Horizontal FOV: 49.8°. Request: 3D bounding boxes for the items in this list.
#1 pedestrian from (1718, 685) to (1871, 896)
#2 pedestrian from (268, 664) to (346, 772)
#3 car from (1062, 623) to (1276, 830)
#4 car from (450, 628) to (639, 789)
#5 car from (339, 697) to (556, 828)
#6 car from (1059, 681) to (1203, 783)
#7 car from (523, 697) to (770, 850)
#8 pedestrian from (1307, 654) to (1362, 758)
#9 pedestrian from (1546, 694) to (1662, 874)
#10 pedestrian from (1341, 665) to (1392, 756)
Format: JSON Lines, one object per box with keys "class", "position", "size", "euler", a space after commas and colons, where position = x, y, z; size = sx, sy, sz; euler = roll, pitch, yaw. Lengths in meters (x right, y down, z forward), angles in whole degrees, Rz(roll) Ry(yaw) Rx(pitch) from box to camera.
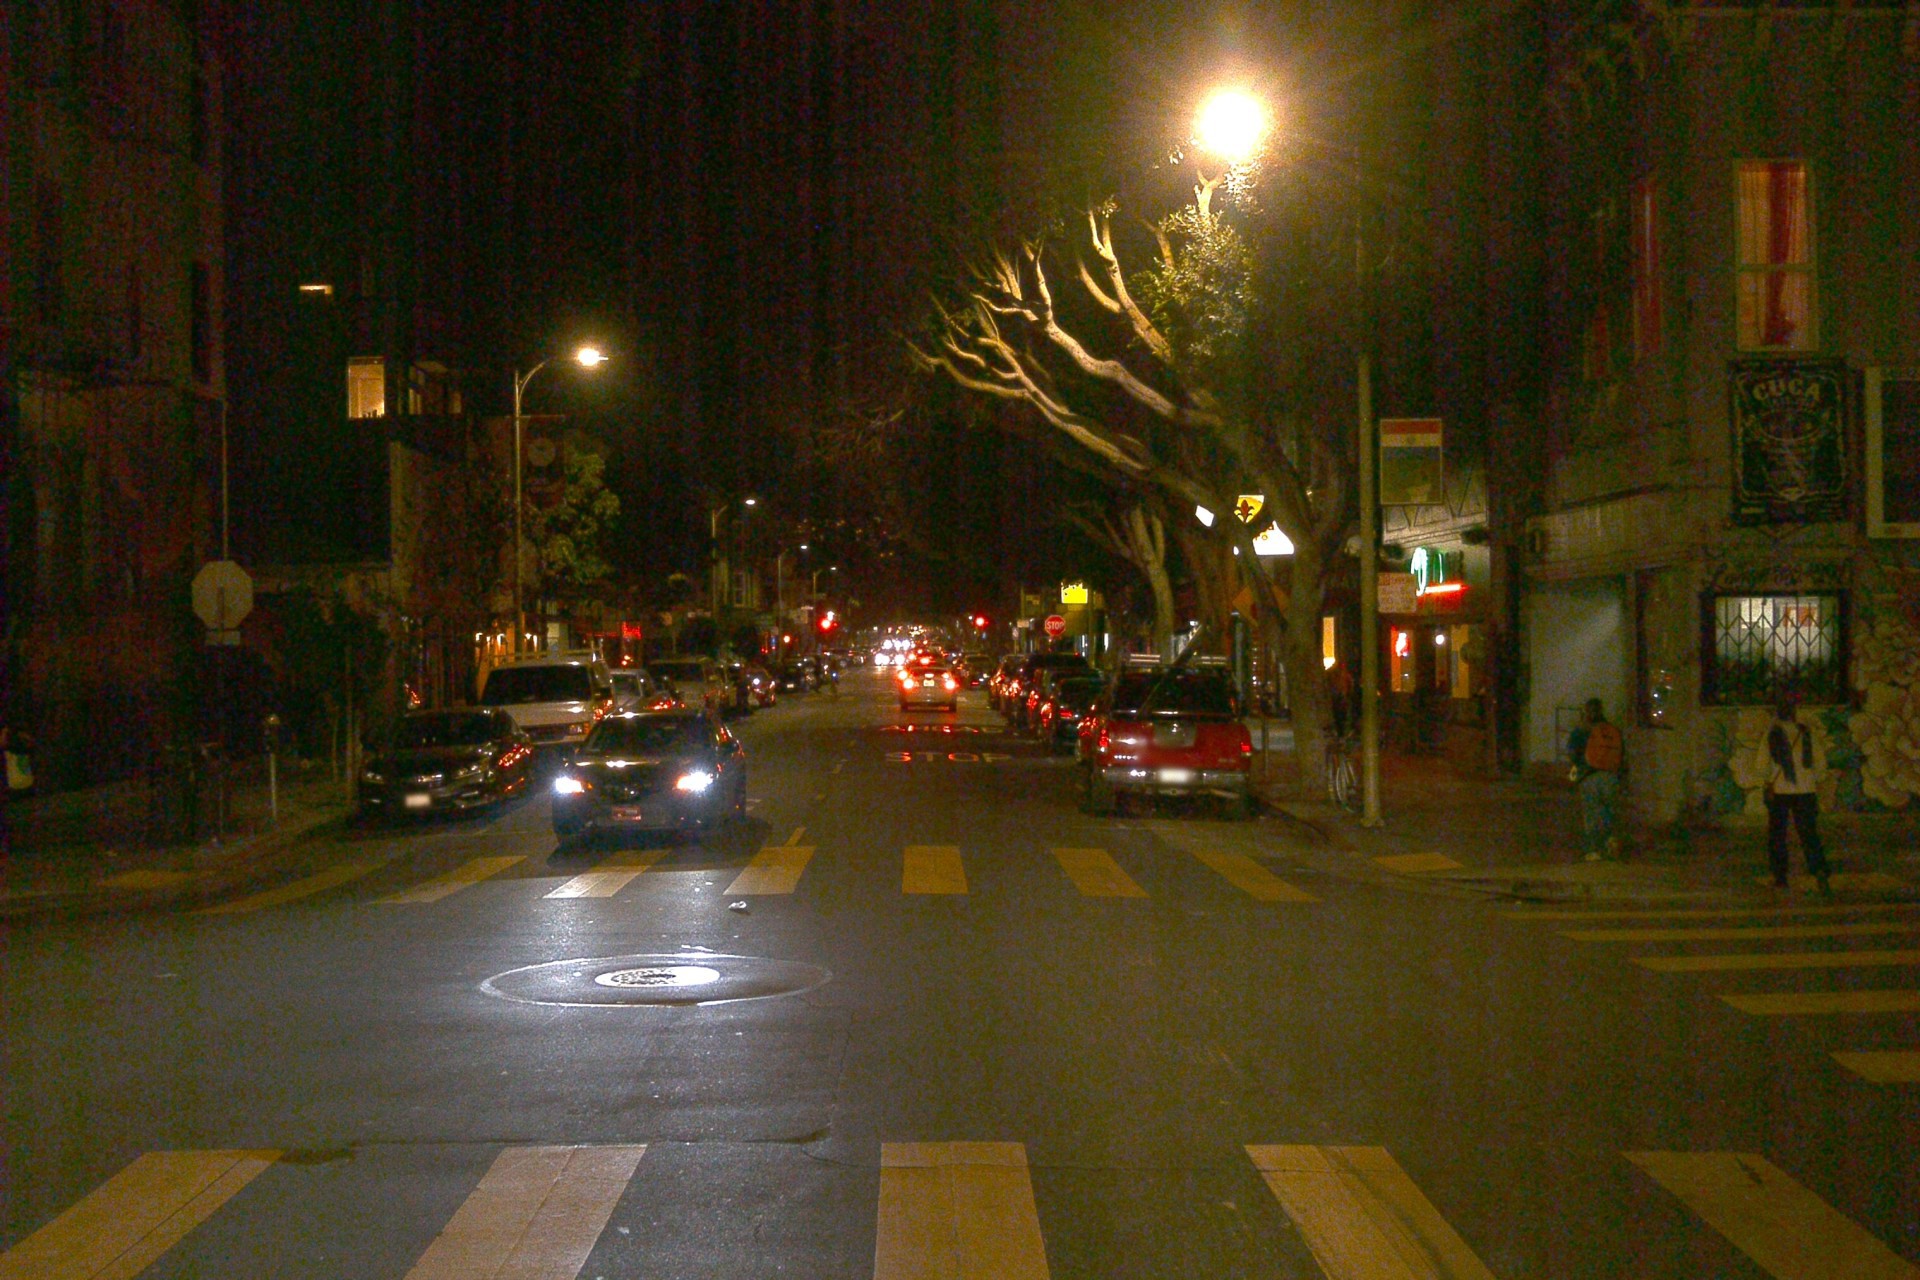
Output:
{"class": "pedestrian", "position": [7.087, 1.253, 17.629], "size": [0.875, 1.720, 1.082], "euler": [0, 0, 2]}
{"class": "pedestrian", "position": [-11.293, 1.334, 35.819], "size": [1.016, 1.830, 1.016], "euler": [0, 0, 0]}
{"class": "car", "position": [2.769, 1.076, 28.633], "size": [2.609, 2.510, 6.384], "euler": [0, 0, 4]}
{"class": "car", "position": [-7.099, 1.120, 35.972], "size": [2.537, 2.560, 5.516], "euler": [0, 0, -4]}
{"class": "car", "position": [-7.136, 1.661, 29.362], "size": [2.111, 1.570, 4.965], "euler": [0, 0, -3]}
{"class": "car", "position": [2.877, 1.531, 35.673], "size": [2.035, 1.590, 4.289], "euler": [0, 0, -1]}
{"class": "car", "position": [-3.597, 1.501, 24.708], "size": [2.245, 1.520, 4.894], "euler": [0, 0, 0]}
{"class": "pedestrian", "position": [6.333, 1.108, 35.039], "size": [0.722, 1.730, 0.999], "euler": [0, 0, 0]}
{"class": "pedestrian", "position": [6.183, 1.364, 19.917], "size": [0.750, 1.660, 1.058], "euler": [0, 0, -1]}
{"class": "pedestrian", "position": [6.902, 1.190, 35.168], "size": [0.682, 1.520, 0.704], "euler": [0, 0, -1]}
